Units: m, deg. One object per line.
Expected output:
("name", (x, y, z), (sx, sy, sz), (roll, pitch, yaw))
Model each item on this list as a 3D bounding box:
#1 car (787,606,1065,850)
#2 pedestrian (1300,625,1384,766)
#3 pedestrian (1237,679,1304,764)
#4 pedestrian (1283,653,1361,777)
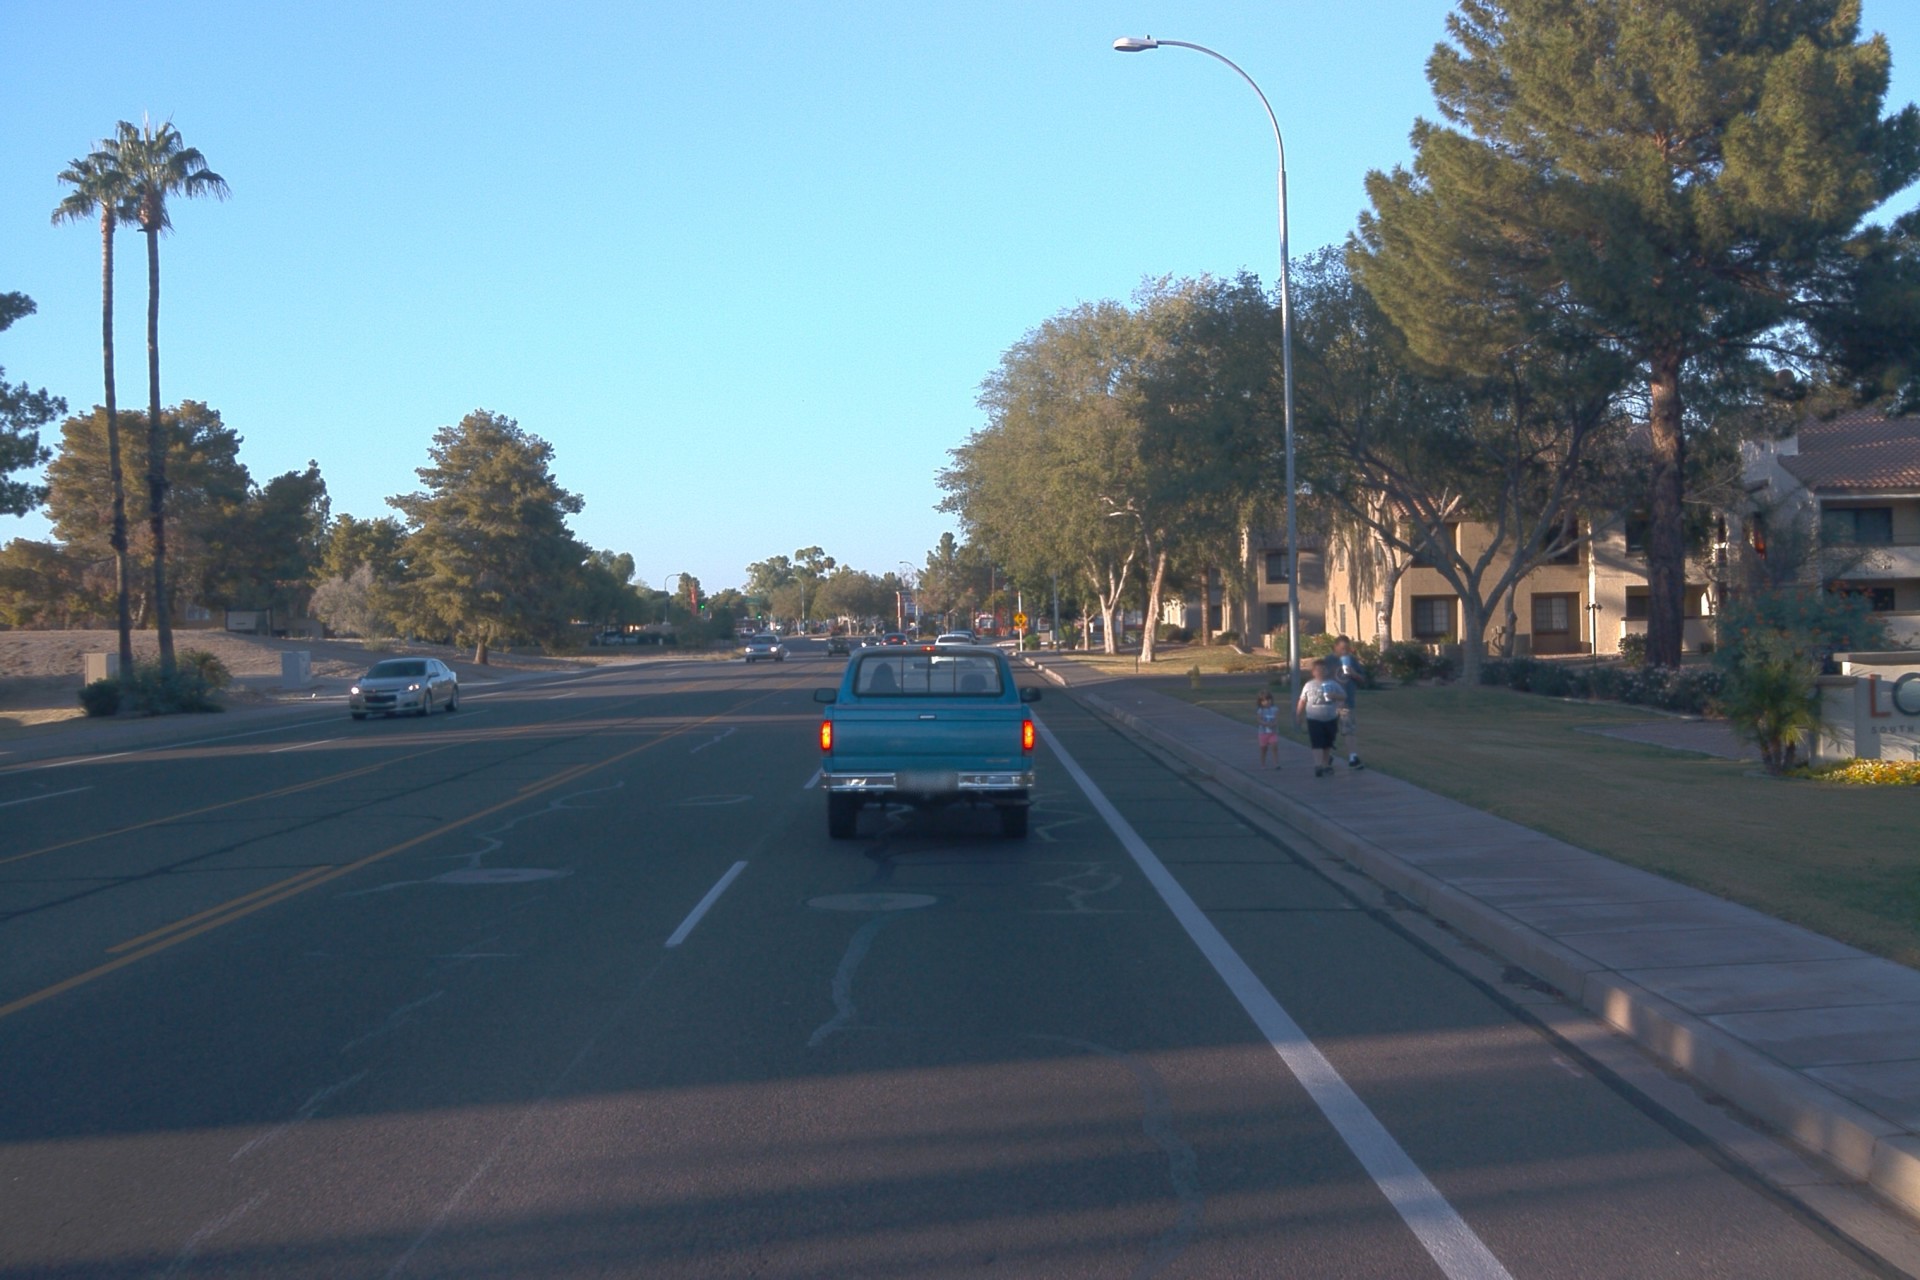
("car", (-0.304, 0.787, 21.057), (2.459, 2.150, 5.428), (0, 0, 0))
("pedestrian", (4.744, 0.677, 25.747), (0.841, 1.720, 0.834), (0, 0, -4))
("pedestrian", (3.873, 1.012, 25.865), (0.653, 1.040, 0.817), (0, 0, -5))
("pedestrian", (4.344, 0.889, 24.878), (0.750, 1.460, 0.905), (0, 0, -2))
